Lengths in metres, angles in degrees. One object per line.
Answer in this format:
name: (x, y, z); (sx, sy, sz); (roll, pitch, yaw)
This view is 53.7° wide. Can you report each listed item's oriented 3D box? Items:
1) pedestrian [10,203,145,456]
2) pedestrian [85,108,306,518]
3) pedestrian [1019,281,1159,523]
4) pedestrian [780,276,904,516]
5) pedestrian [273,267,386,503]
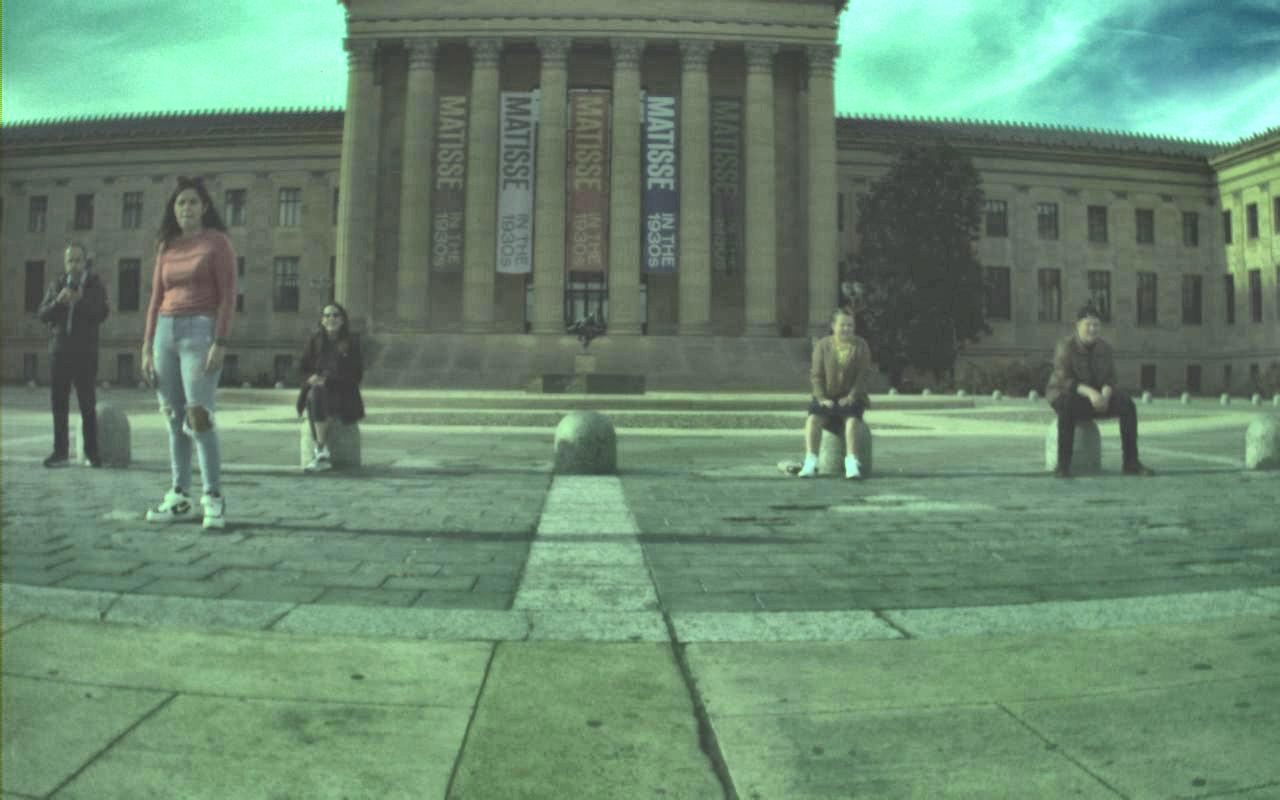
pedestrian: (-4.156, -0.486, 8.447); (0.777, 1.769, 0.795); (0, 0, 0)
pedestrian: (-2.054, -0.377, 5.458); (0.749, 1.731, 0.760); (0, 0, 14)
pedestrian: (3.421, 0.022, 9.153); (0.842, 1.752, 0.853); (0, 0, -2)
pedestrian: (1.462, -0.032, 9.145); (0.788, 1.678, 0.805); (0, 0, 0)
pedestrian: (-2.267, -0.108, 9.003); (0.807, 1.655, 0.822); (0, 0, -11)
